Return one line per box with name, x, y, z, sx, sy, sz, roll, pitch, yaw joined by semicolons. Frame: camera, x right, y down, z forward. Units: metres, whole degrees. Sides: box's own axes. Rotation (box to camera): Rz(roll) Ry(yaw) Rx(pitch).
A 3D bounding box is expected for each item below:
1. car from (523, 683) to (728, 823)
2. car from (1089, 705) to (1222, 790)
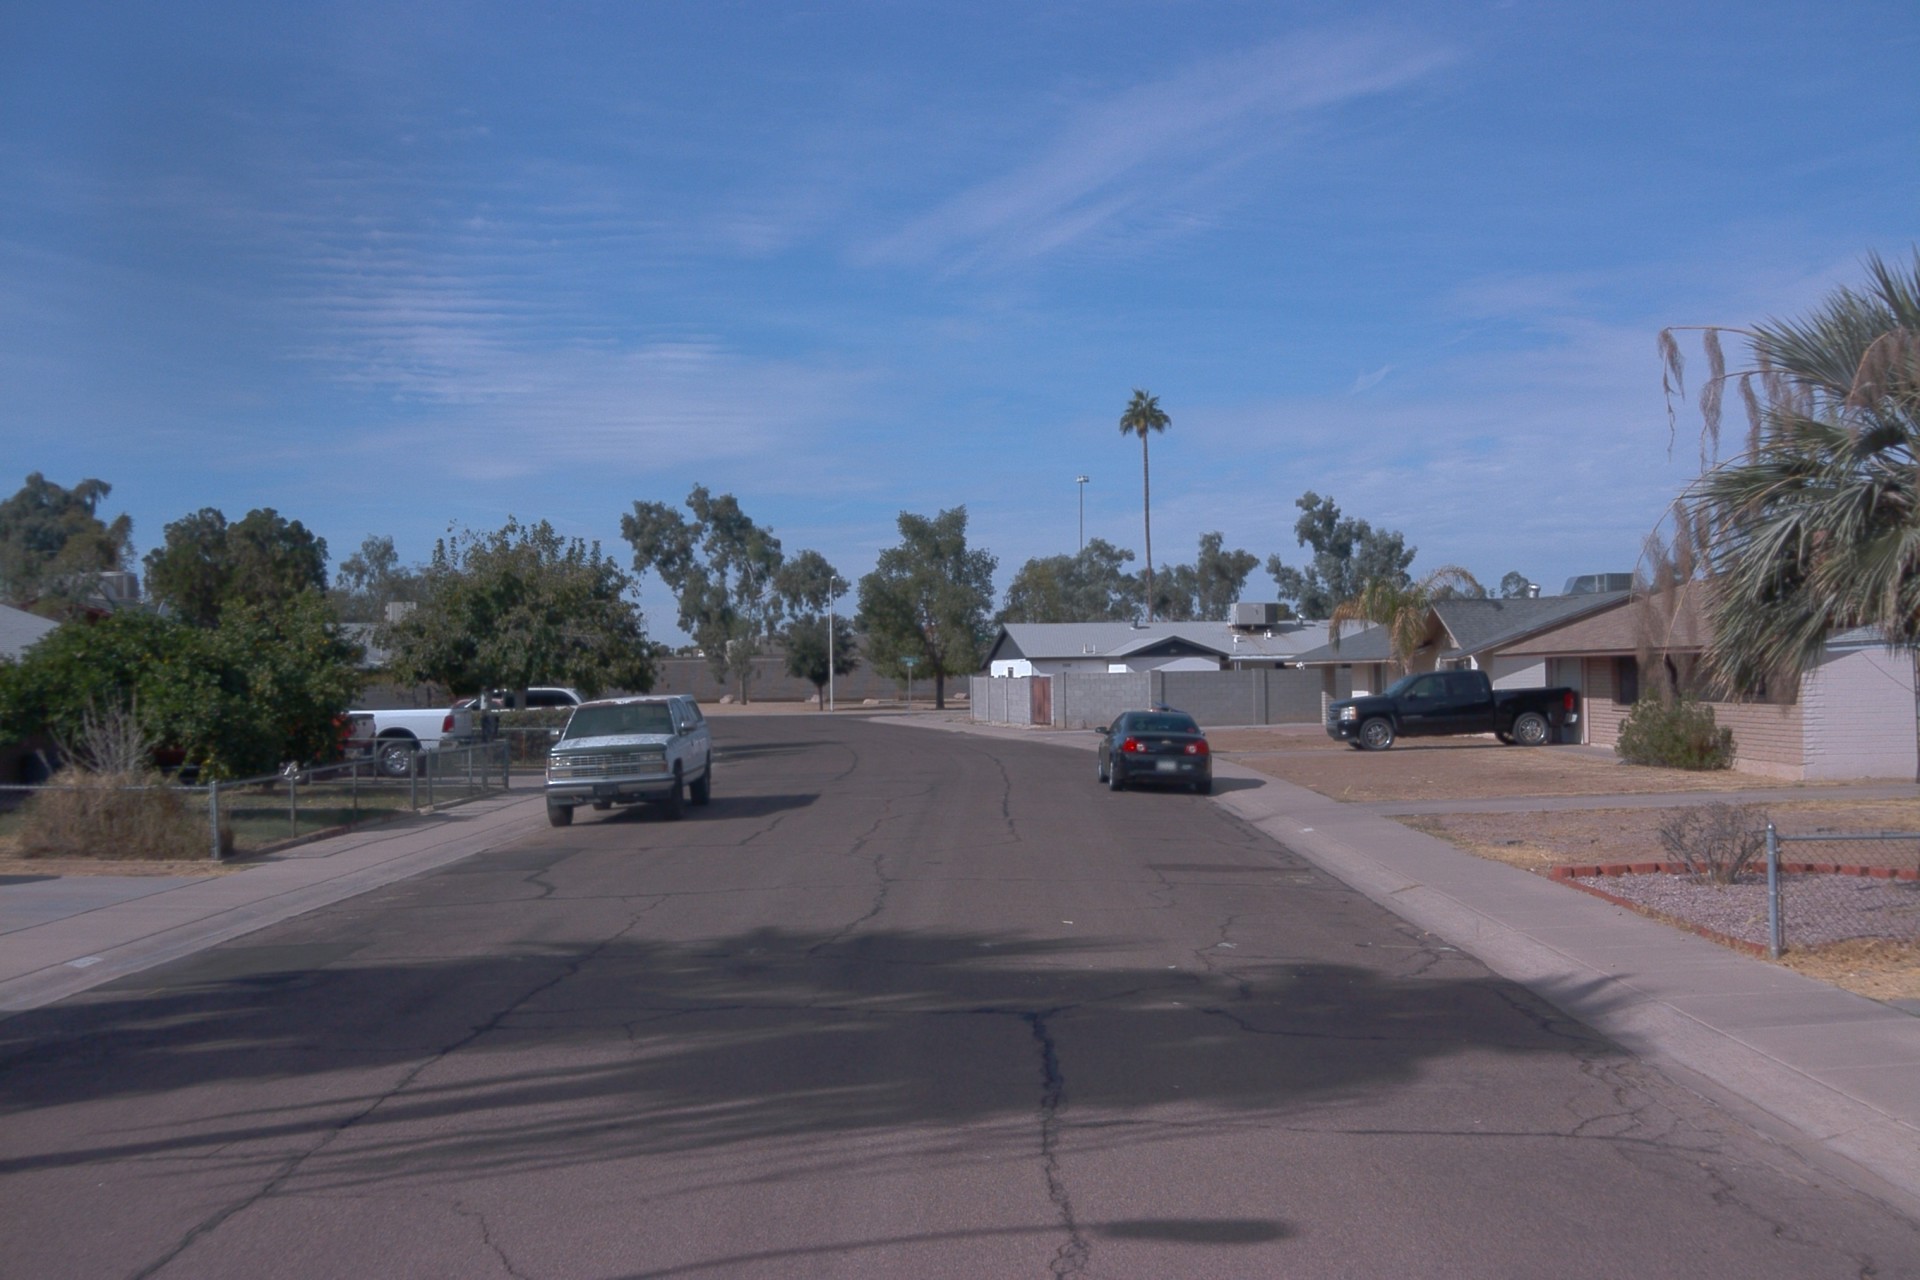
car;-5.136;1.680;32.753;2.300;1.980;5.749;0;-1;0
car;3.501;1.924;38.062;1.891;1.390;4.690;0;-1;-1
